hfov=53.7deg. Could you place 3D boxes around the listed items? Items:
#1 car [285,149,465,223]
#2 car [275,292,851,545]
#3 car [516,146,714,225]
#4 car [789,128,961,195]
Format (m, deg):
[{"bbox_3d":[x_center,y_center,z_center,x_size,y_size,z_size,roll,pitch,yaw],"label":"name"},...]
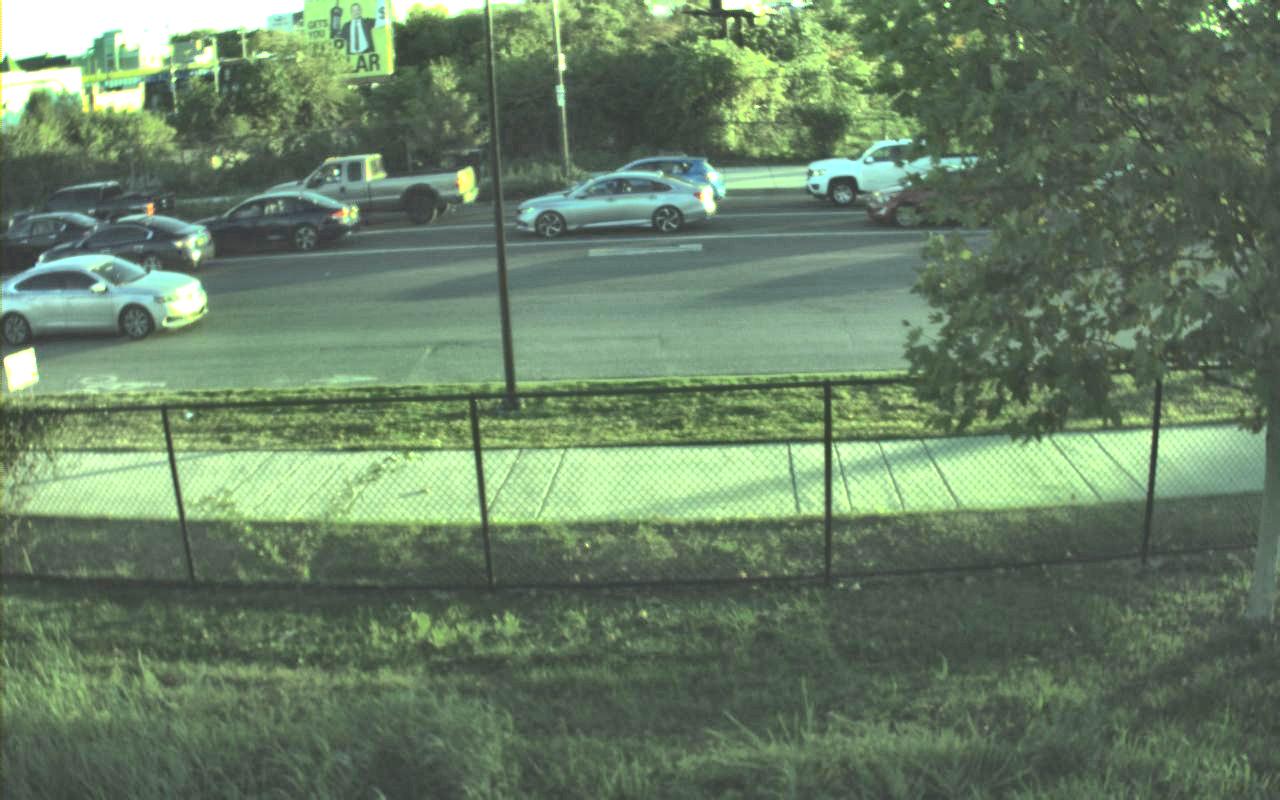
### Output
[{"bbox_3d":[-7.462,-6.019,34.614,4.726,1.671,2.043,0,16,3],"label":"car"},{"bbox_3d":[-0.596,0.075,11.159,4.722,1.686,2.038,1,16,5],"label":"car"},{"bbox_3d":[-0.561,-5.248,30.548,4.657,1.633,2.013,0,16,2],"label":"car"},{"bbox_3d":[6.454,-6.600,34.170,4.580,1.611,2.004,0,16,3],"label":"car"}]
